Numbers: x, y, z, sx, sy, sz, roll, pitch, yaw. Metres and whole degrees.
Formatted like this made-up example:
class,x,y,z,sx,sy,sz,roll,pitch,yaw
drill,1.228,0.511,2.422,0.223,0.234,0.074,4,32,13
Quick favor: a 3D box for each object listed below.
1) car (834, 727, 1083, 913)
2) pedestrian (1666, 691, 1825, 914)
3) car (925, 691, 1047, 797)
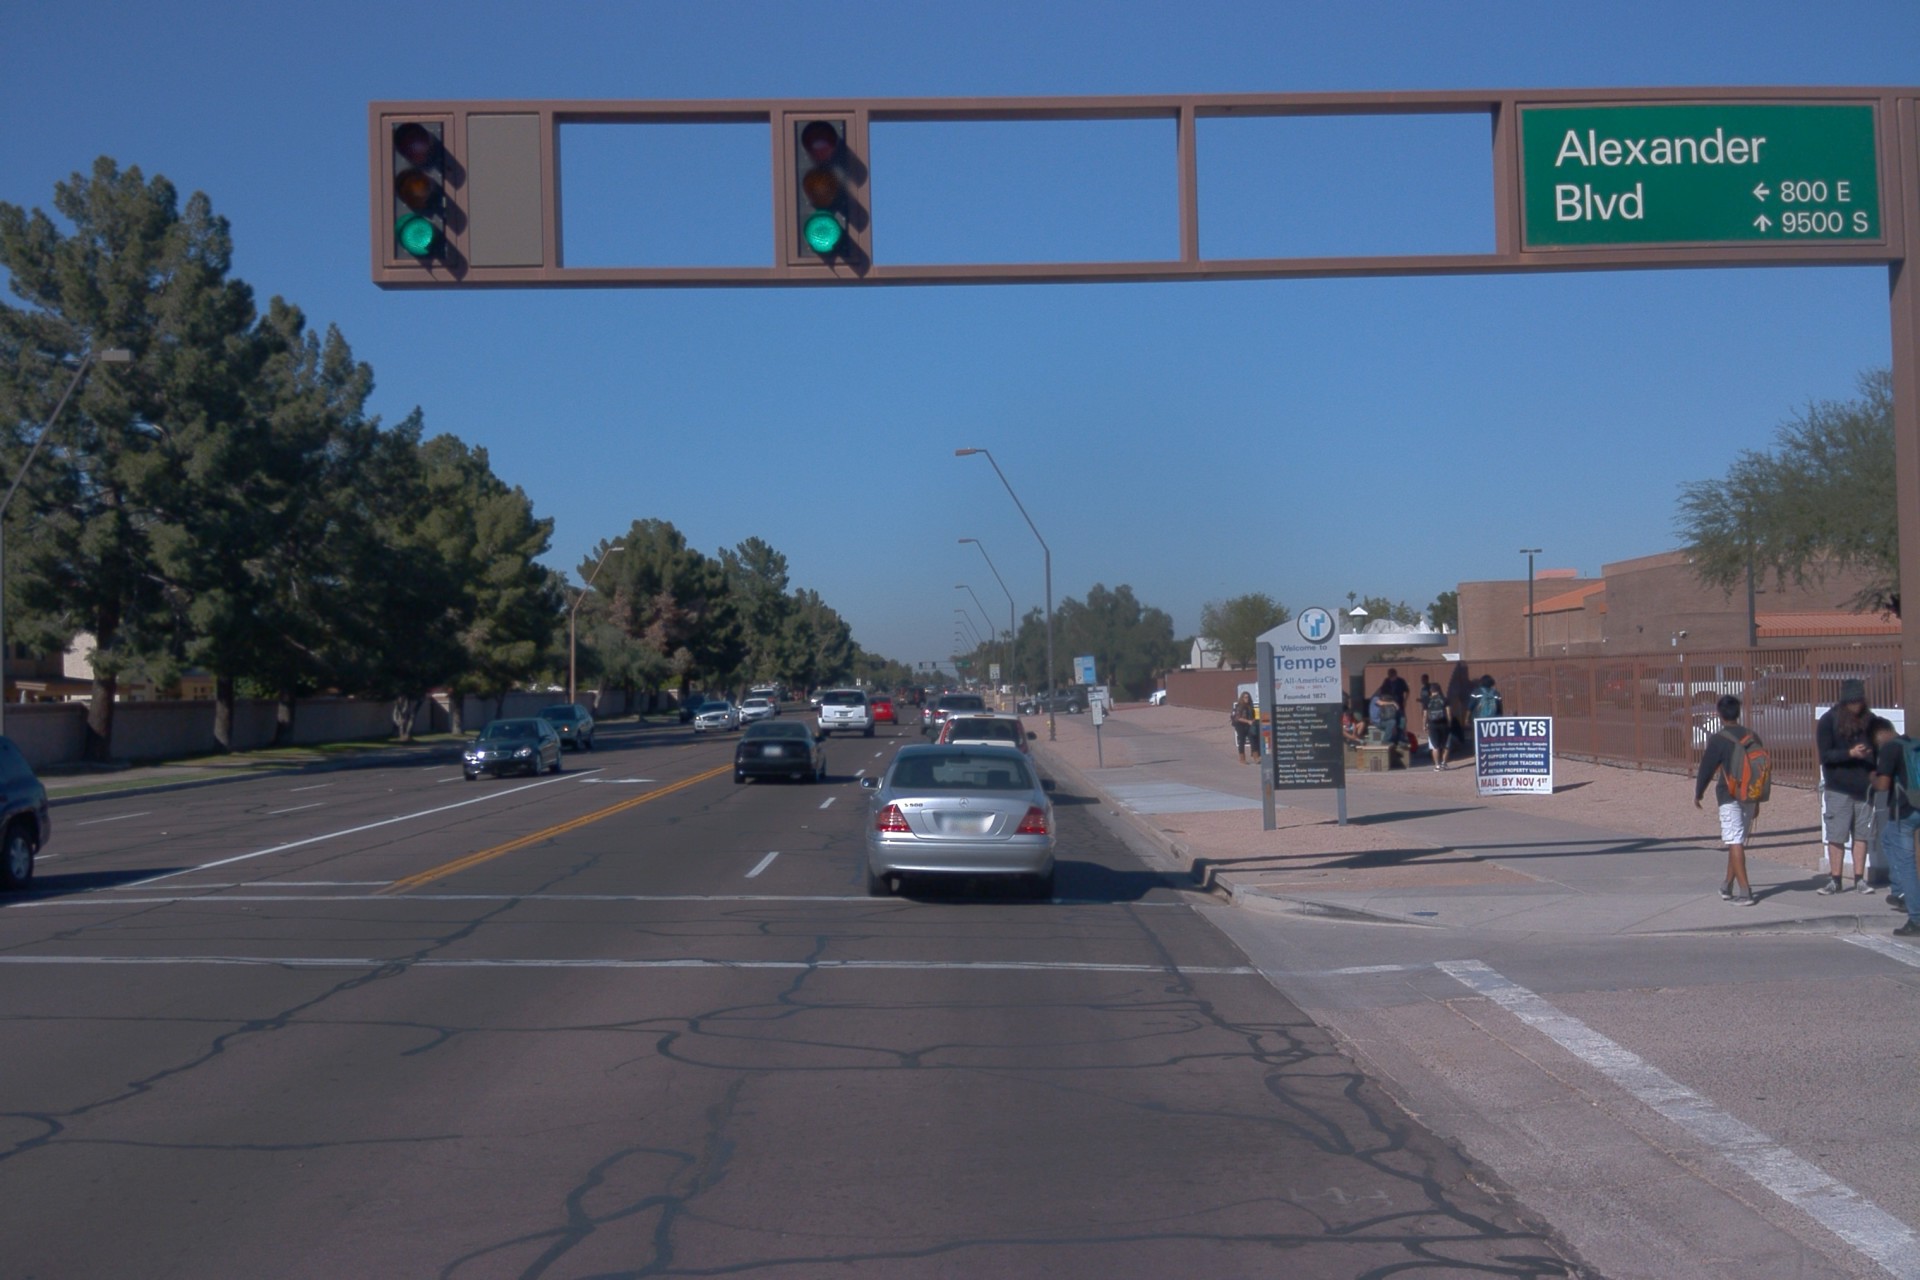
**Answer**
class,x,y,z,sx,sy,sz,roll,pitch,yaw
car,-0.033,1.739,21.267,2.265,1.600,4.514,0,-1,0
pedestrian,6.359,1.292,16.888,0.919,1.750,0.956,0,-1,-1
car,0.467,1.810,37.408,2.056,1.760,4.487,0,-1,1
